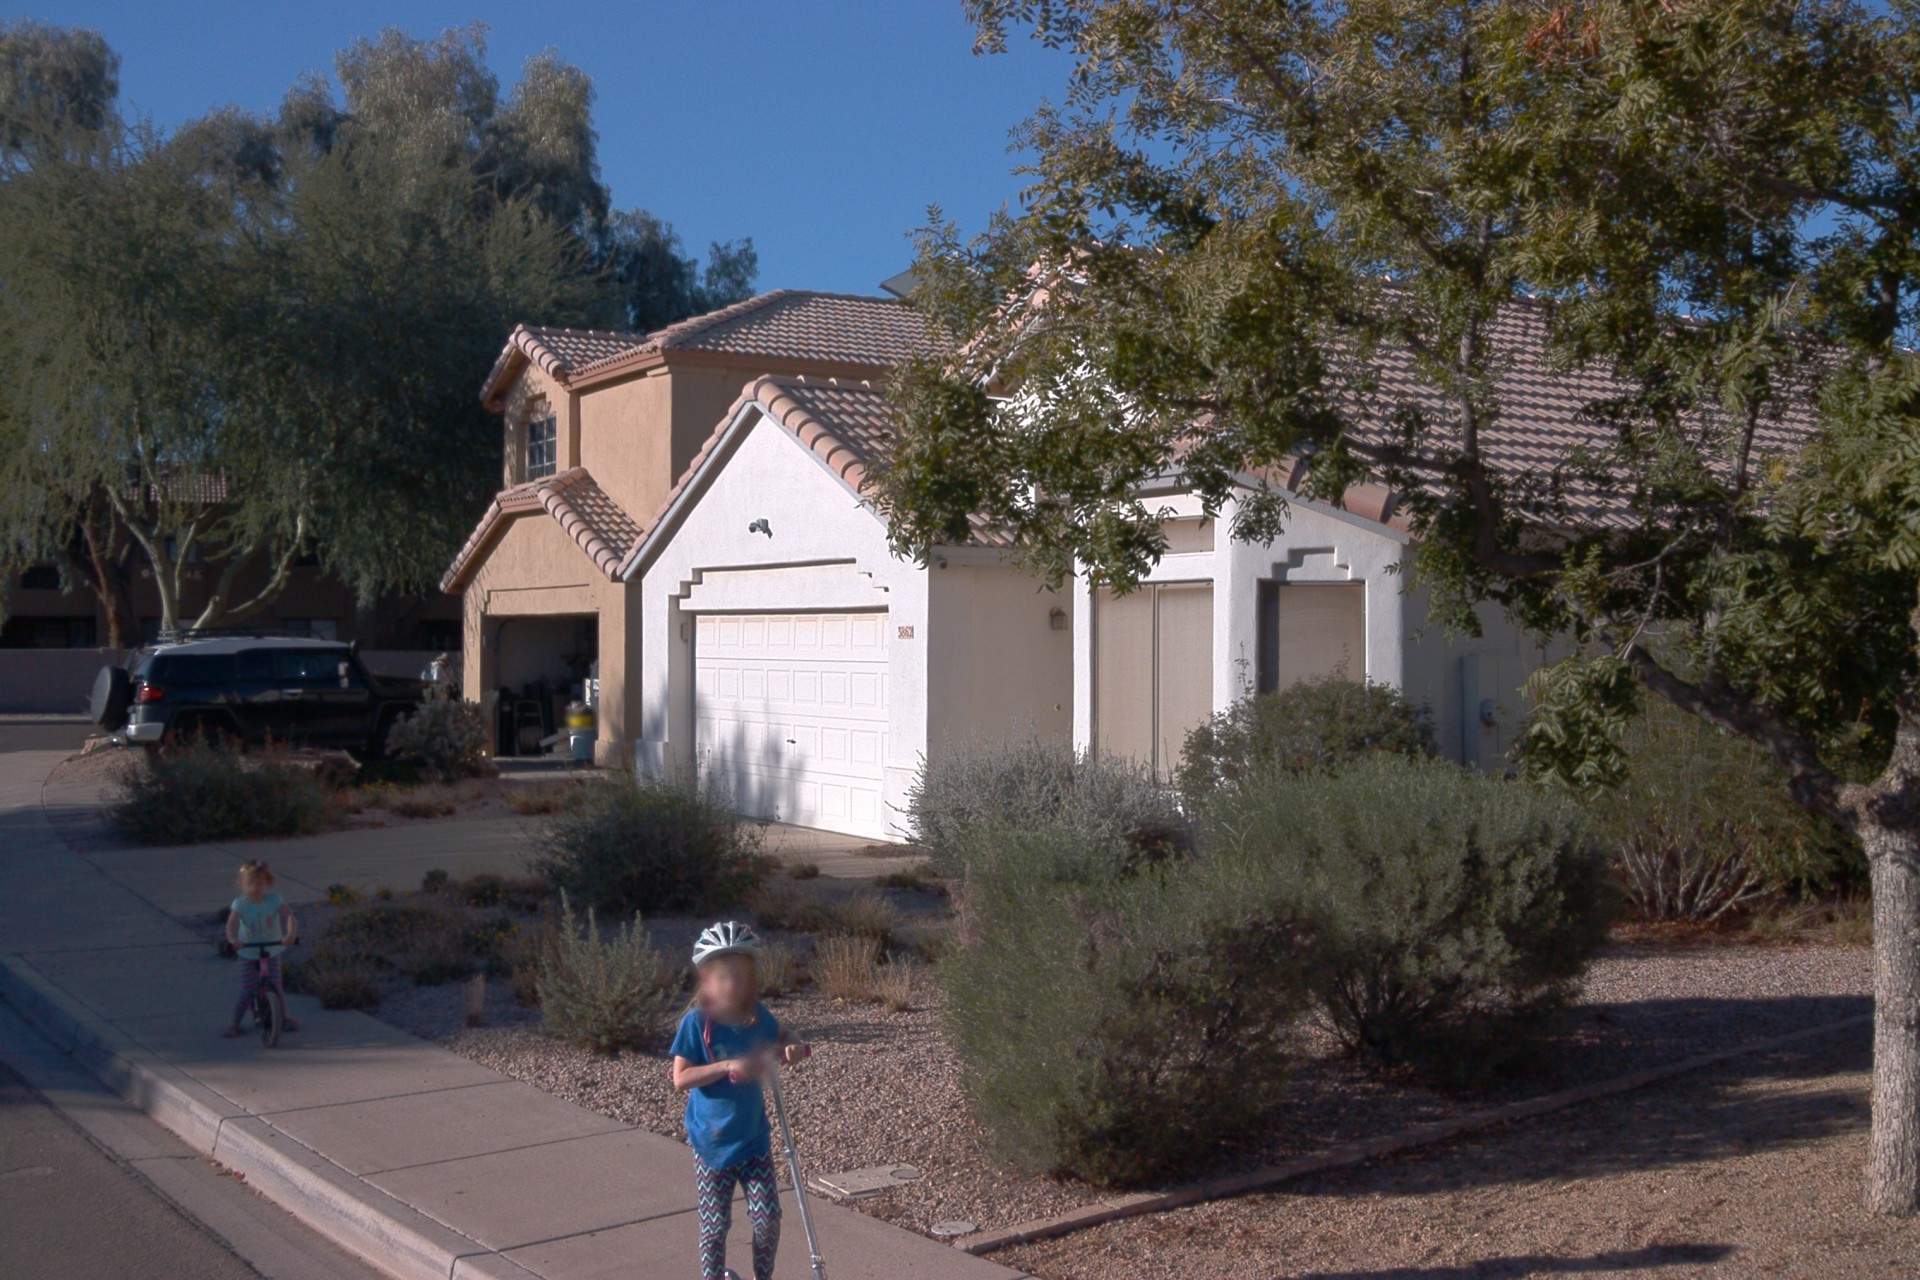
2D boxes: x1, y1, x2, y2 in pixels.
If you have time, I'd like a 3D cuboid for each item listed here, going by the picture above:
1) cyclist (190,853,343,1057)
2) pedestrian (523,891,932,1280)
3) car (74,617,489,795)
[{"bbox_3d":[-3.509,1.566,10.445,0.527,0.890,0.831,1,-1,-33],"label":"cyclist"},{"bbox_3d":[-0.708,1.429,6.137,1.177,1.230,0.538,0,-1,42],"label":"pedestrian"},{"bbox_3d":[-9.174,0.872,28.108,4.985,2.240,2.025,1,-1,-31],"label":"car"}]
